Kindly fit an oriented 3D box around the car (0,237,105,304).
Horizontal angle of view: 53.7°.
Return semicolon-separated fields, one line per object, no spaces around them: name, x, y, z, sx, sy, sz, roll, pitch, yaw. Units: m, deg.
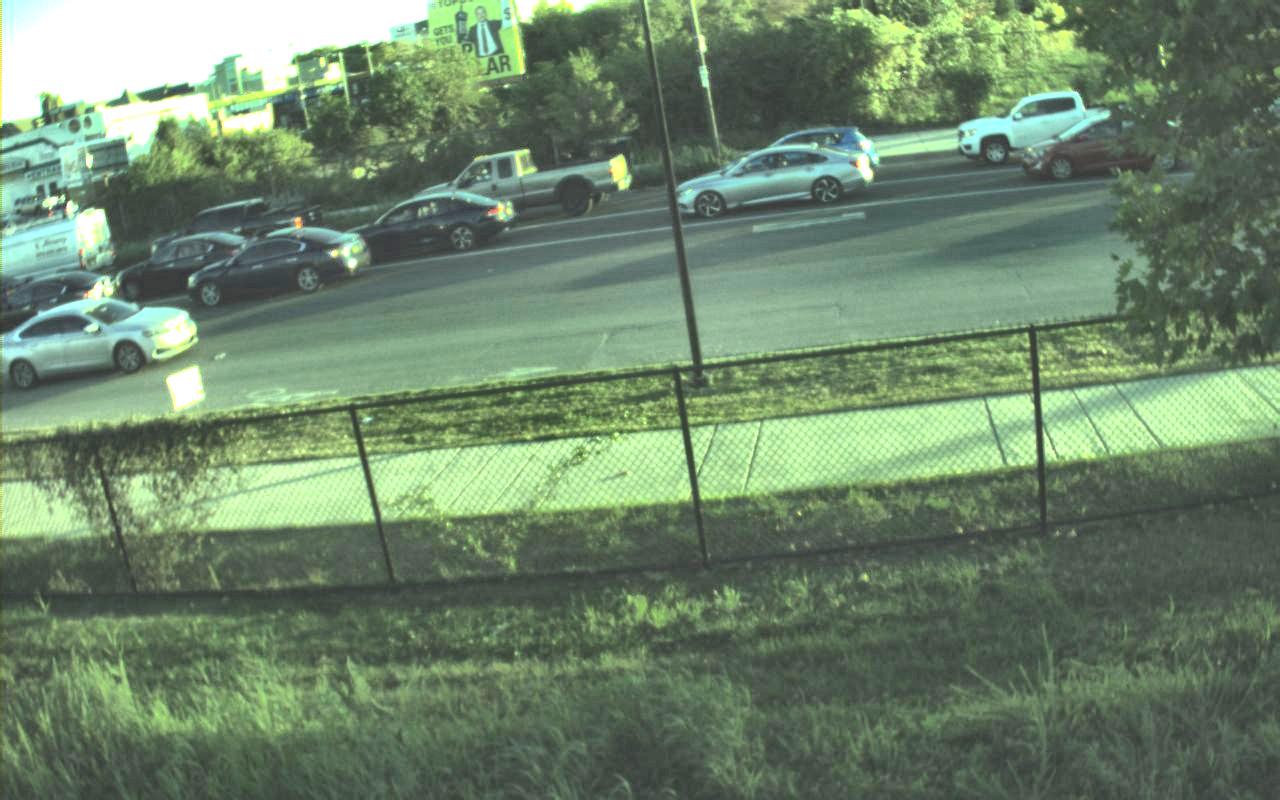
car;-20.437;-4.204;37.769;4.827;1.782;2.052;1;16;8

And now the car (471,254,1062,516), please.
car;1.151;-0.223;10.944;4.720;1.686;2.039;2;16;10

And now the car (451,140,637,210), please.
car;-2.659;-6.321;34.982;4.836;1.703;2.068;2;16;9

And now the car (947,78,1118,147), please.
car;10.753;-7.881;32.795;4.625;1.600;1.990;2;16;9

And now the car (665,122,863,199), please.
car;3.047;-5.831;30.181;4.655;1.633;2.014;1;16;7
